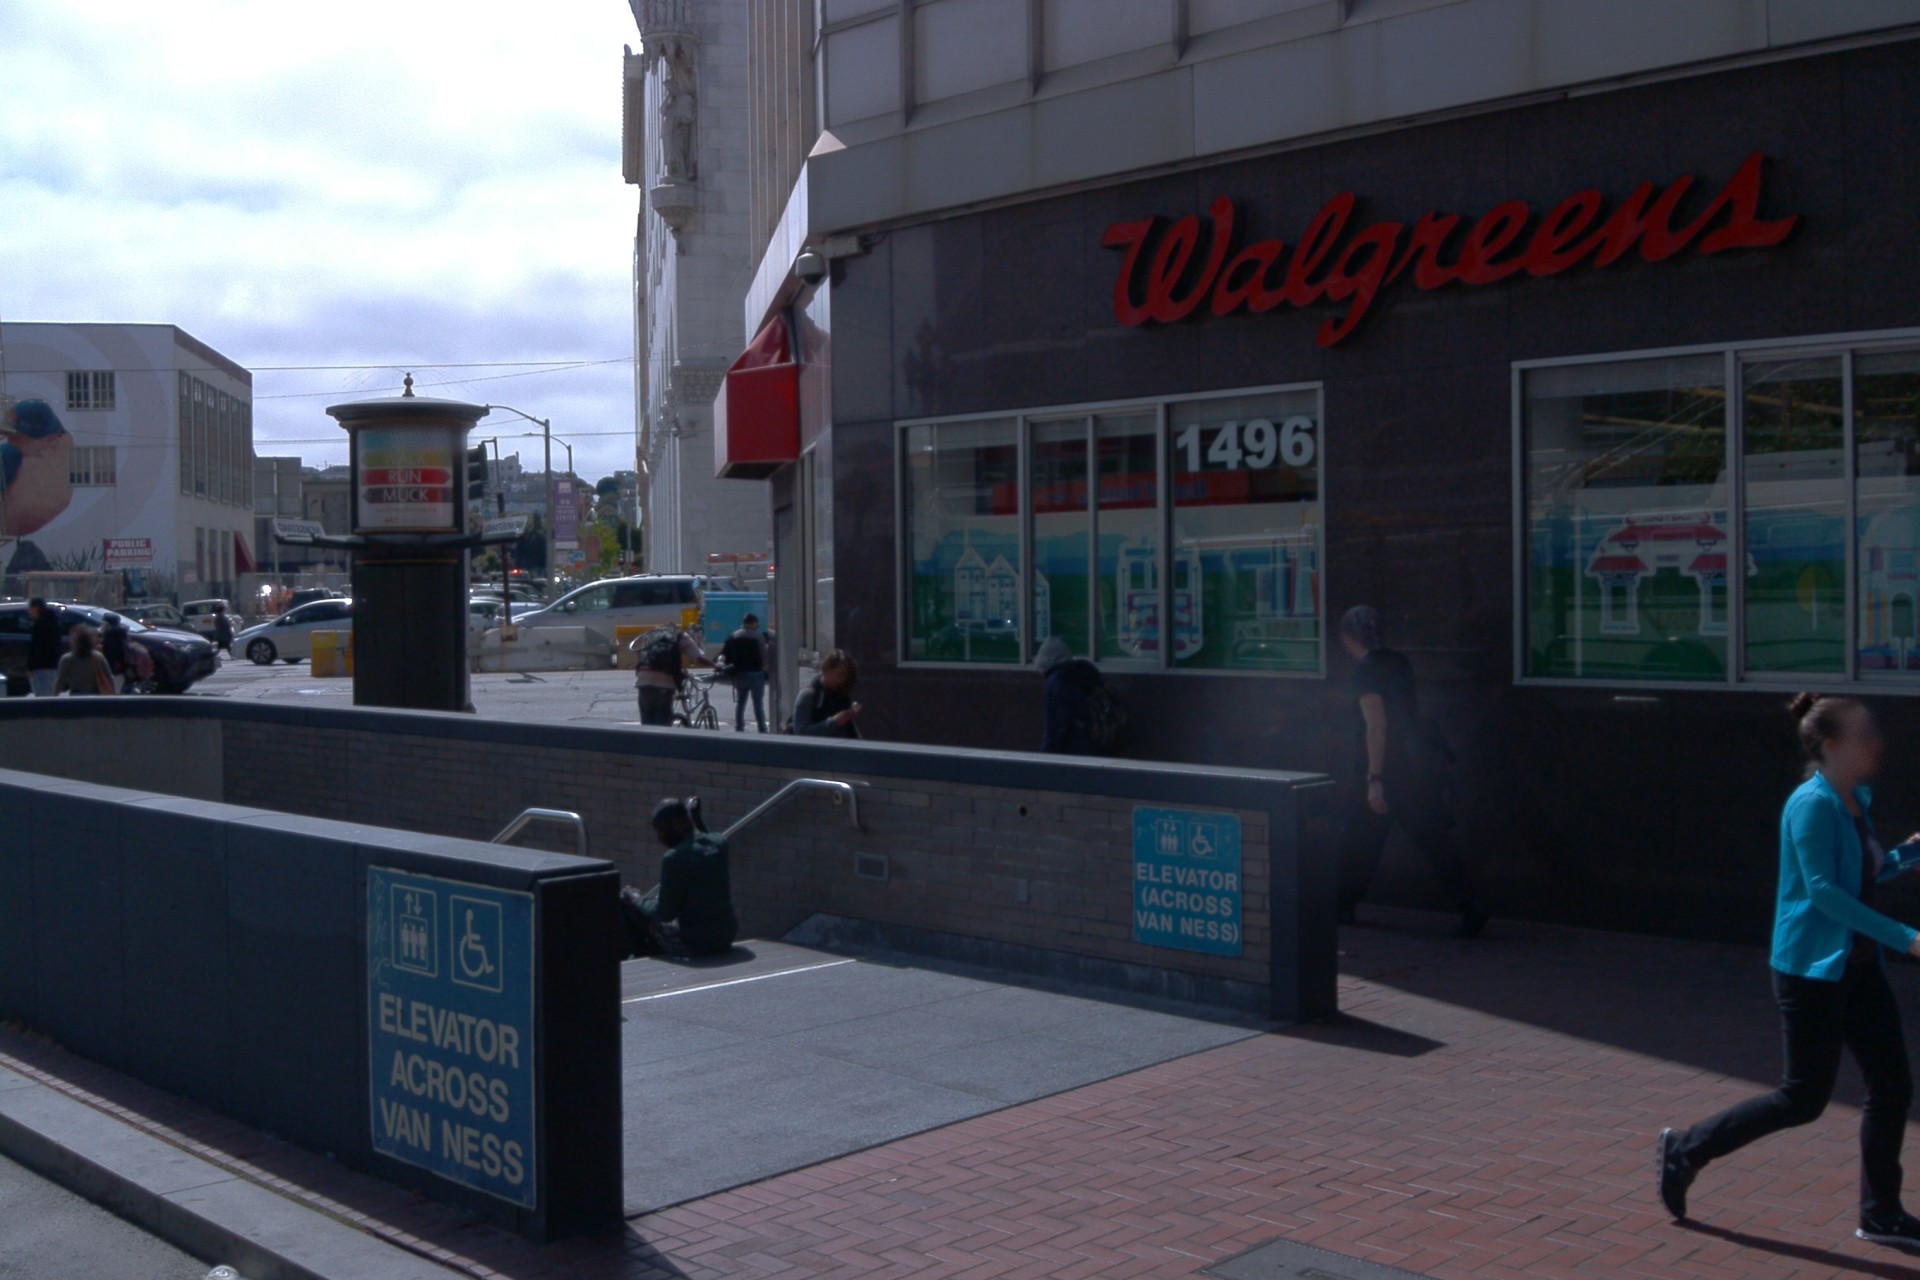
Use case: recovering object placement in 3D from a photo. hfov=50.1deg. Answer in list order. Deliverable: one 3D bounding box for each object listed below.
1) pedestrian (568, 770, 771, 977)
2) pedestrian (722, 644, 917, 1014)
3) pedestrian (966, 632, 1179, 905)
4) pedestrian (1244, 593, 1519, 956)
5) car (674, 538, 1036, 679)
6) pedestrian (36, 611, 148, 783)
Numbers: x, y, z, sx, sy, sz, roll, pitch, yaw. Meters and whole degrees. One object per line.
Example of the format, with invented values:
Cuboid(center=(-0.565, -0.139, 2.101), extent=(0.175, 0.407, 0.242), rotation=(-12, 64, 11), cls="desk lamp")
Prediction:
Cuboid(center=(-1.604, 1.258, 11.312), extent=(0.698, 1.000, 0.907), rotation=(0, 0, -45), cls="pedestrian")
Cuboid(center=(-0.885, 1.132, 12.914), extent=(0.775, 2.200, 0.961), rotation=(0, 0, -45), cls="pedestrian")
Cuboid(center=(0.730, 0.789, 13.359), extent=(1.061, 1.680, 0.875), rotation=(0, 0, 45), cls="pedestrian")
Cuboid(center=(2.351, 0.698, 11.499), extent=(0.912, 1.900, 1.192), rotation=(0, 0, -43), cls="pedestrian")
Cuboid(center=(-1.958, -0.566, 36.915), extent=(6.228, 2.420, 2.609), rotation=(0, 0, -9), cls="car")
Cuboid(center=(-9.035, 0.571, 21.397), extent=(0.862, 1.740, 0.752), rotation=(0, 0, 39), cls="pedestrian")
